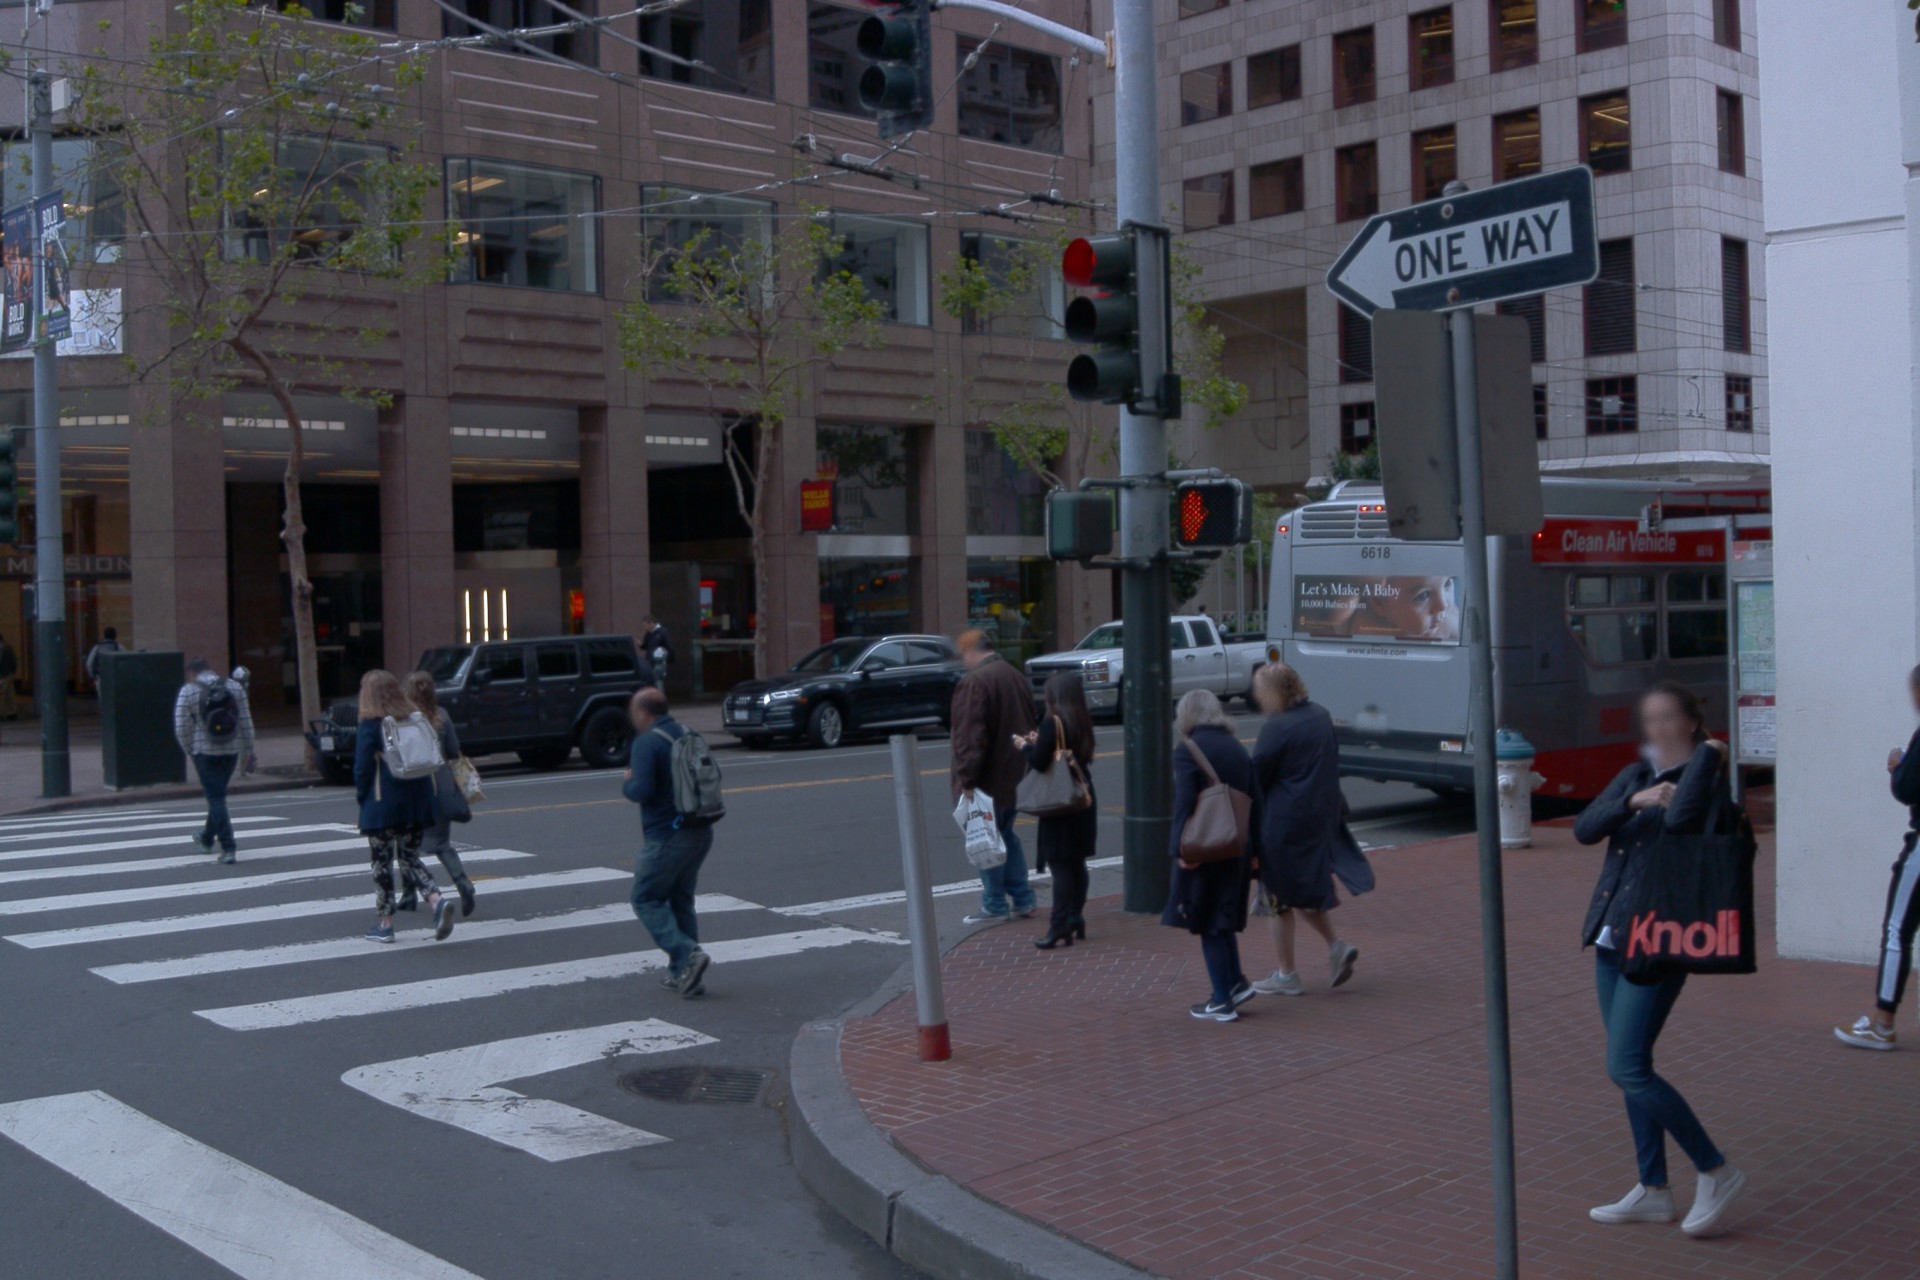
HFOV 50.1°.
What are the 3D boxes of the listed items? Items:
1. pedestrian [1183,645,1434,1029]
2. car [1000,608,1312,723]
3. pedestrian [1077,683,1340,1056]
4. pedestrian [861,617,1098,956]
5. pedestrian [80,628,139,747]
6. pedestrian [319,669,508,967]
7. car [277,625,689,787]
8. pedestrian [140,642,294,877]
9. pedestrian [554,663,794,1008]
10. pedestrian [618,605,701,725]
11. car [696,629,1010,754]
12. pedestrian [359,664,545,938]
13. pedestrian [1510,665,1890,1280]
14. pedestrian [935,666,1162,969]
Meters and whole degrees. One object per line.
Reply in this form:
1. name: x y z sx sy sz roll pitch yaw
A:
1. pedestrian: 1.666 0.891 9.848 0.737 1.716 0.921 0 0 -44
2. car: 3.576 0.386 36.562 2.385 1.890 5.778 0 1 45
3. pedestrian: 1.130 0.991 9.359 0.899 1.556 0.776 0 0 42
4. pedestrian: 0.110 0.847 12.700 0.950 1.968 1.152 0 0 -36
5. pedestrian: -13.018 0.710 31.490 0.779 1.775 1.054 0 0 -20
6. pedestrian: -3.386 1.059 12.726 0.748 1.726 0.990 0 0 -43
7. car: -6.306 0.788 27.564 4.963 1.950 2.149 -1 1 -43
8. pedestrian: -6.022 0.928 16.653 1.066 1.816 0.777 0 0 44
9. pedestrian: -1.577 1.025 11.358 1.010 1.776 0.829 0 0 34
10. pedestrian: -5.065 0.404 34.684 1.067 1.985 0.895 0 0 -43
11. car: -1.590 0.723 31.753 4.539 1.770 2.126 -1 1 -43
12. pedestrian: -3.410 1.036 13.788 0.841 1.726 0.975 0 0 -42
13. pedestrian: 2.126 0.940 6.033 0.900 1.716 0.834 0 0 9
14. pedestrian: 0.508 0.966 11.747 0.971 1.606 0.869 0 0 39
